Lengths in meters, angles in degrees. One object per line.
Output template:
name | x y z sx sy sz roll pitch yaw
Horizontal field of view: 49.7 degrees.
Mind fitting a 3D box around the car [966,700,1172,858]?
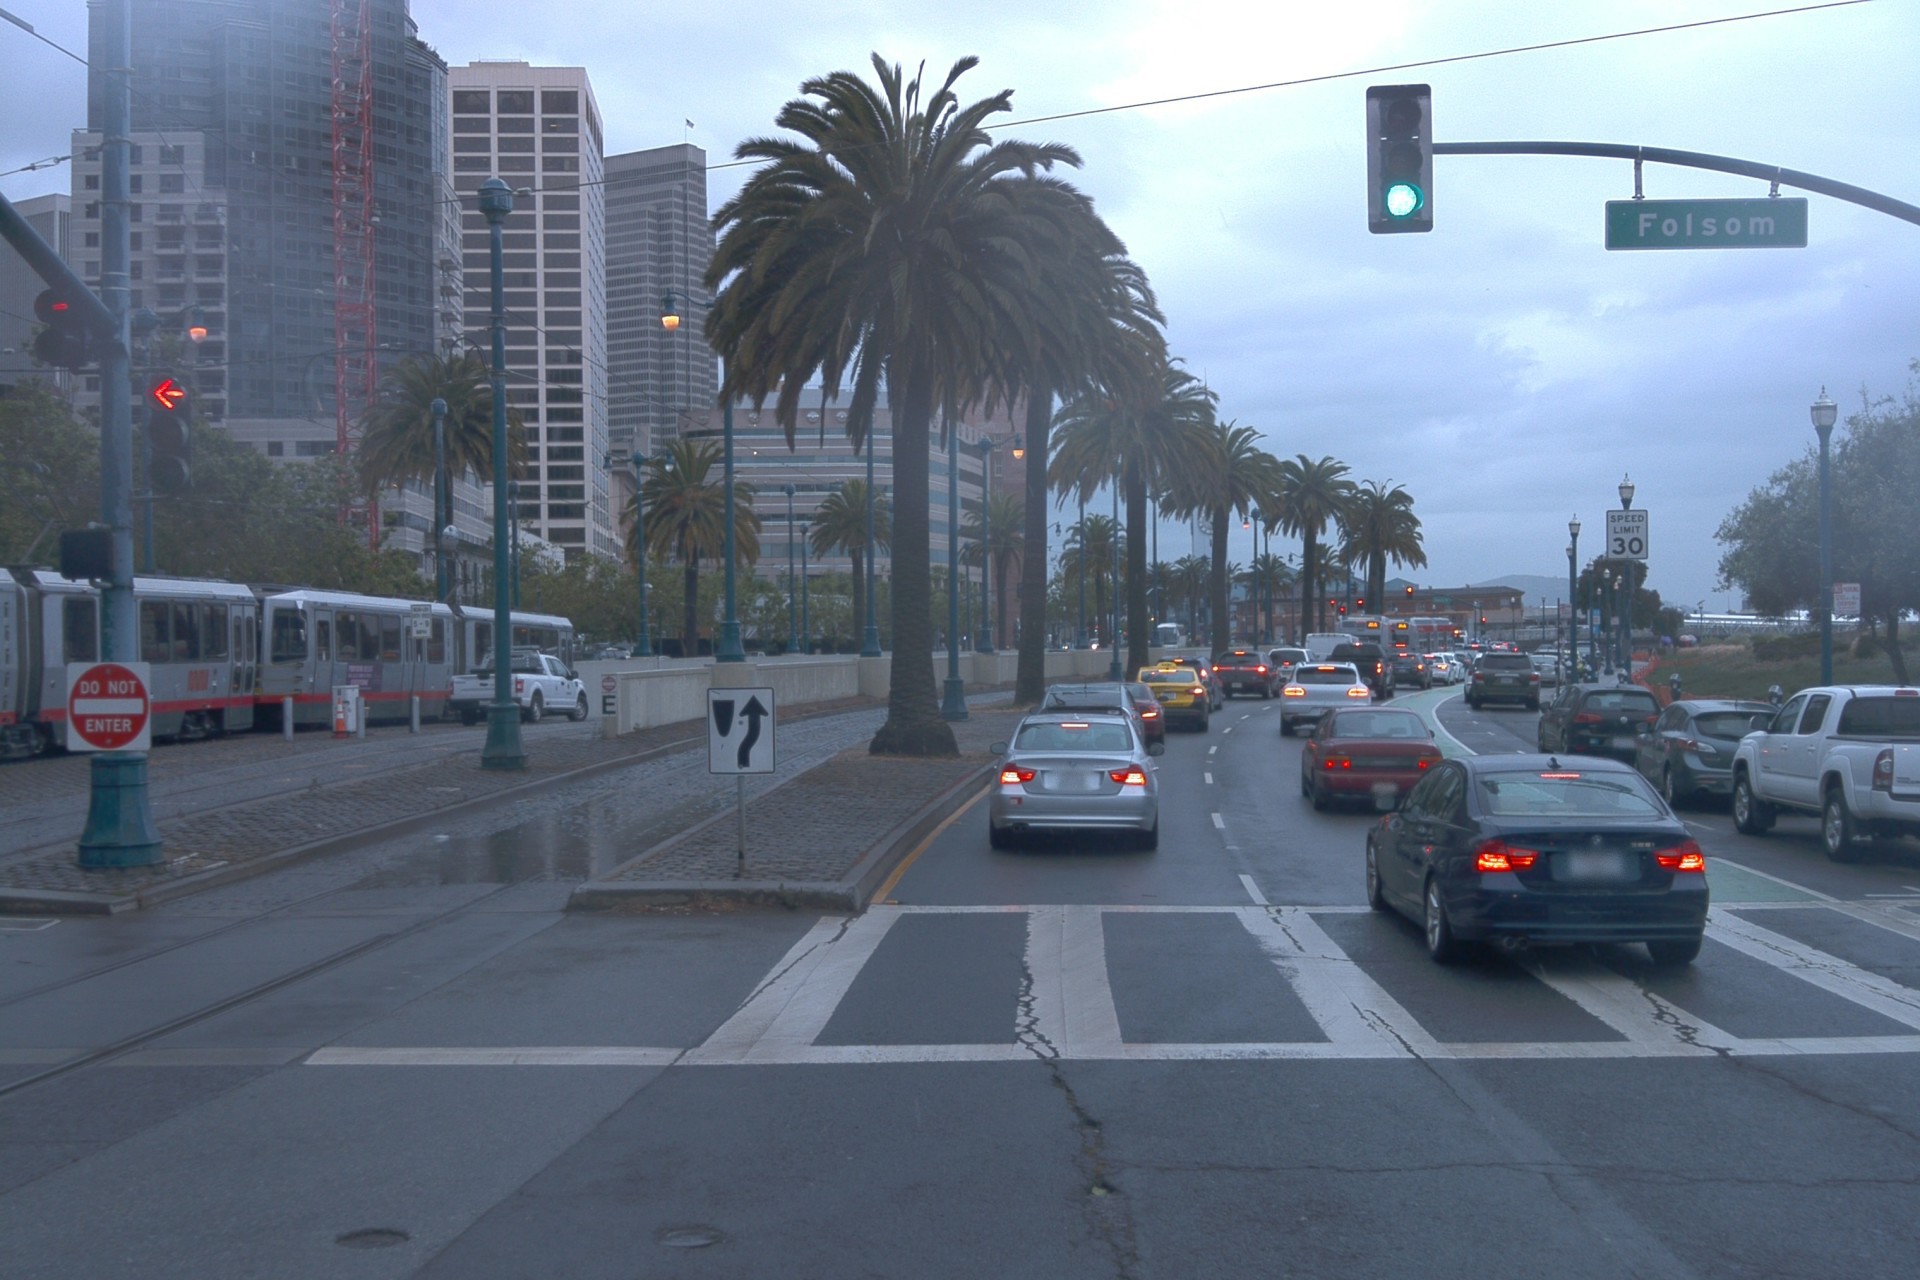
car | 1.291 1.467 23.216 2.067 1.510 4.626 0 -1 5

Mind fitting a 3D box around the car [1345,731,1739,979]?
car | 4.112 1.465 15.394 1.869 1.450 4.344 0 -1 3

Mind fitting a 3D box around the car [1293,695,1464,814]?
car | 5.602 1.503 28.169 1.923 1.450 3.945 0 -1 6

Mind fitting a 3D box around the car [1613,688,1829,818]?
car | 10.404 1.494 28.670 2.029 1.610 4.250 0 -1 9

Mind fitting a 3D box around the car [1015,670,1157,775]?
car | 2.135 1.291 33.868 2.066 1.580 4.627 0 -1 7
